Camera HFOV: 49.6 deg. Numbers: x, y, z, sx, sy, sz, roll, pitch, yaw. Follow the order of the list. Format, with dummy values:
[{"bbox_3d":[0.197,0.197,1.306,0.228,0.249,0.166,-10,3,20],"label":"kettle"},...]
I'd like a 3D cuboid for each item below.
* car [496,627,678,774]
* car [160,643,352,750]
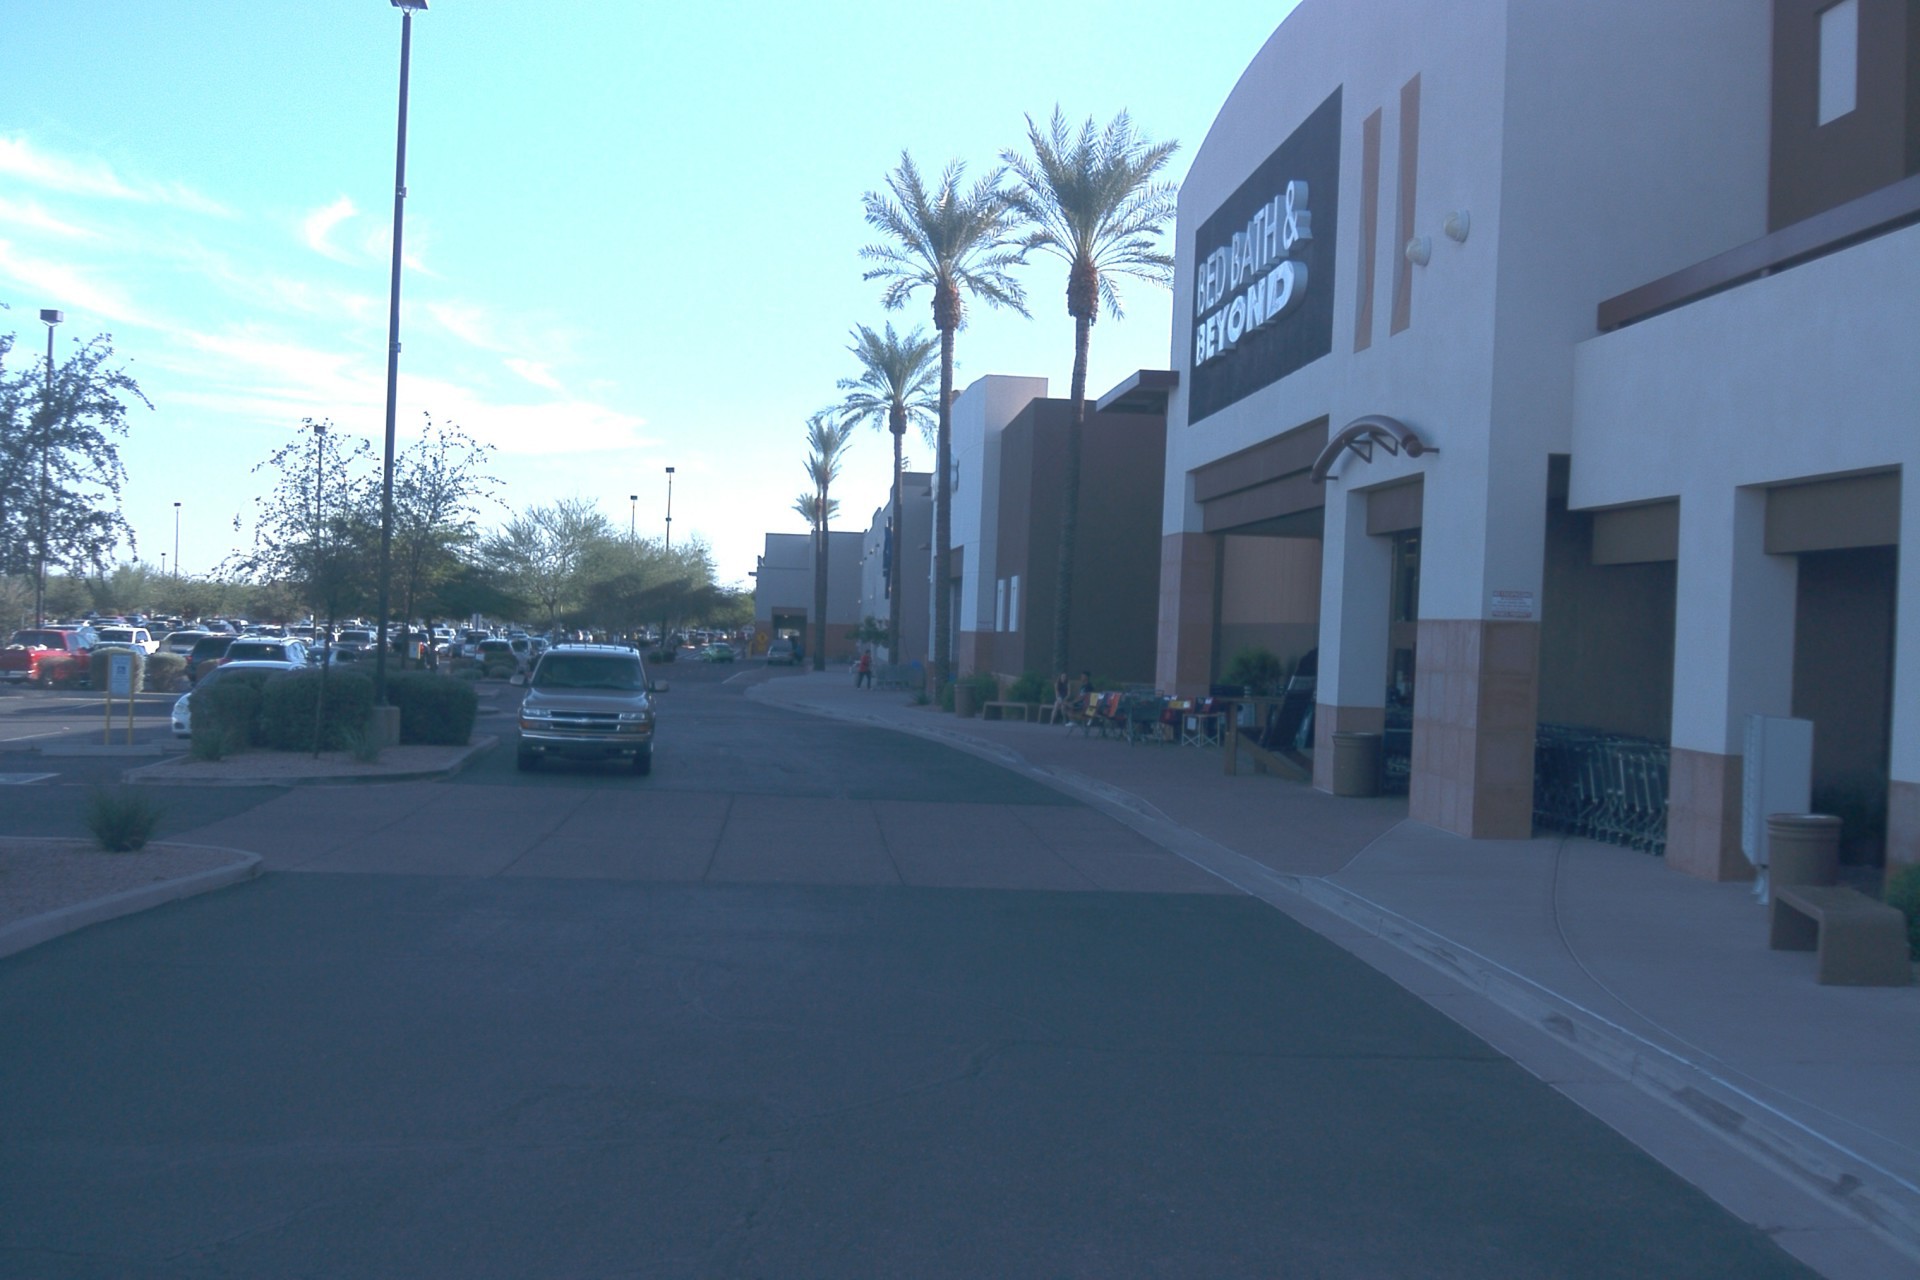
[{"bbox_3d":[-5.678,0.876,32.272,2.382,2.100,4.970,0,0,-5],"label":"car"},{"bbox_3d":[-12.018,0.915,35.837,2.082,1.720,4.843,0,0,-6],"label":"car"}]
